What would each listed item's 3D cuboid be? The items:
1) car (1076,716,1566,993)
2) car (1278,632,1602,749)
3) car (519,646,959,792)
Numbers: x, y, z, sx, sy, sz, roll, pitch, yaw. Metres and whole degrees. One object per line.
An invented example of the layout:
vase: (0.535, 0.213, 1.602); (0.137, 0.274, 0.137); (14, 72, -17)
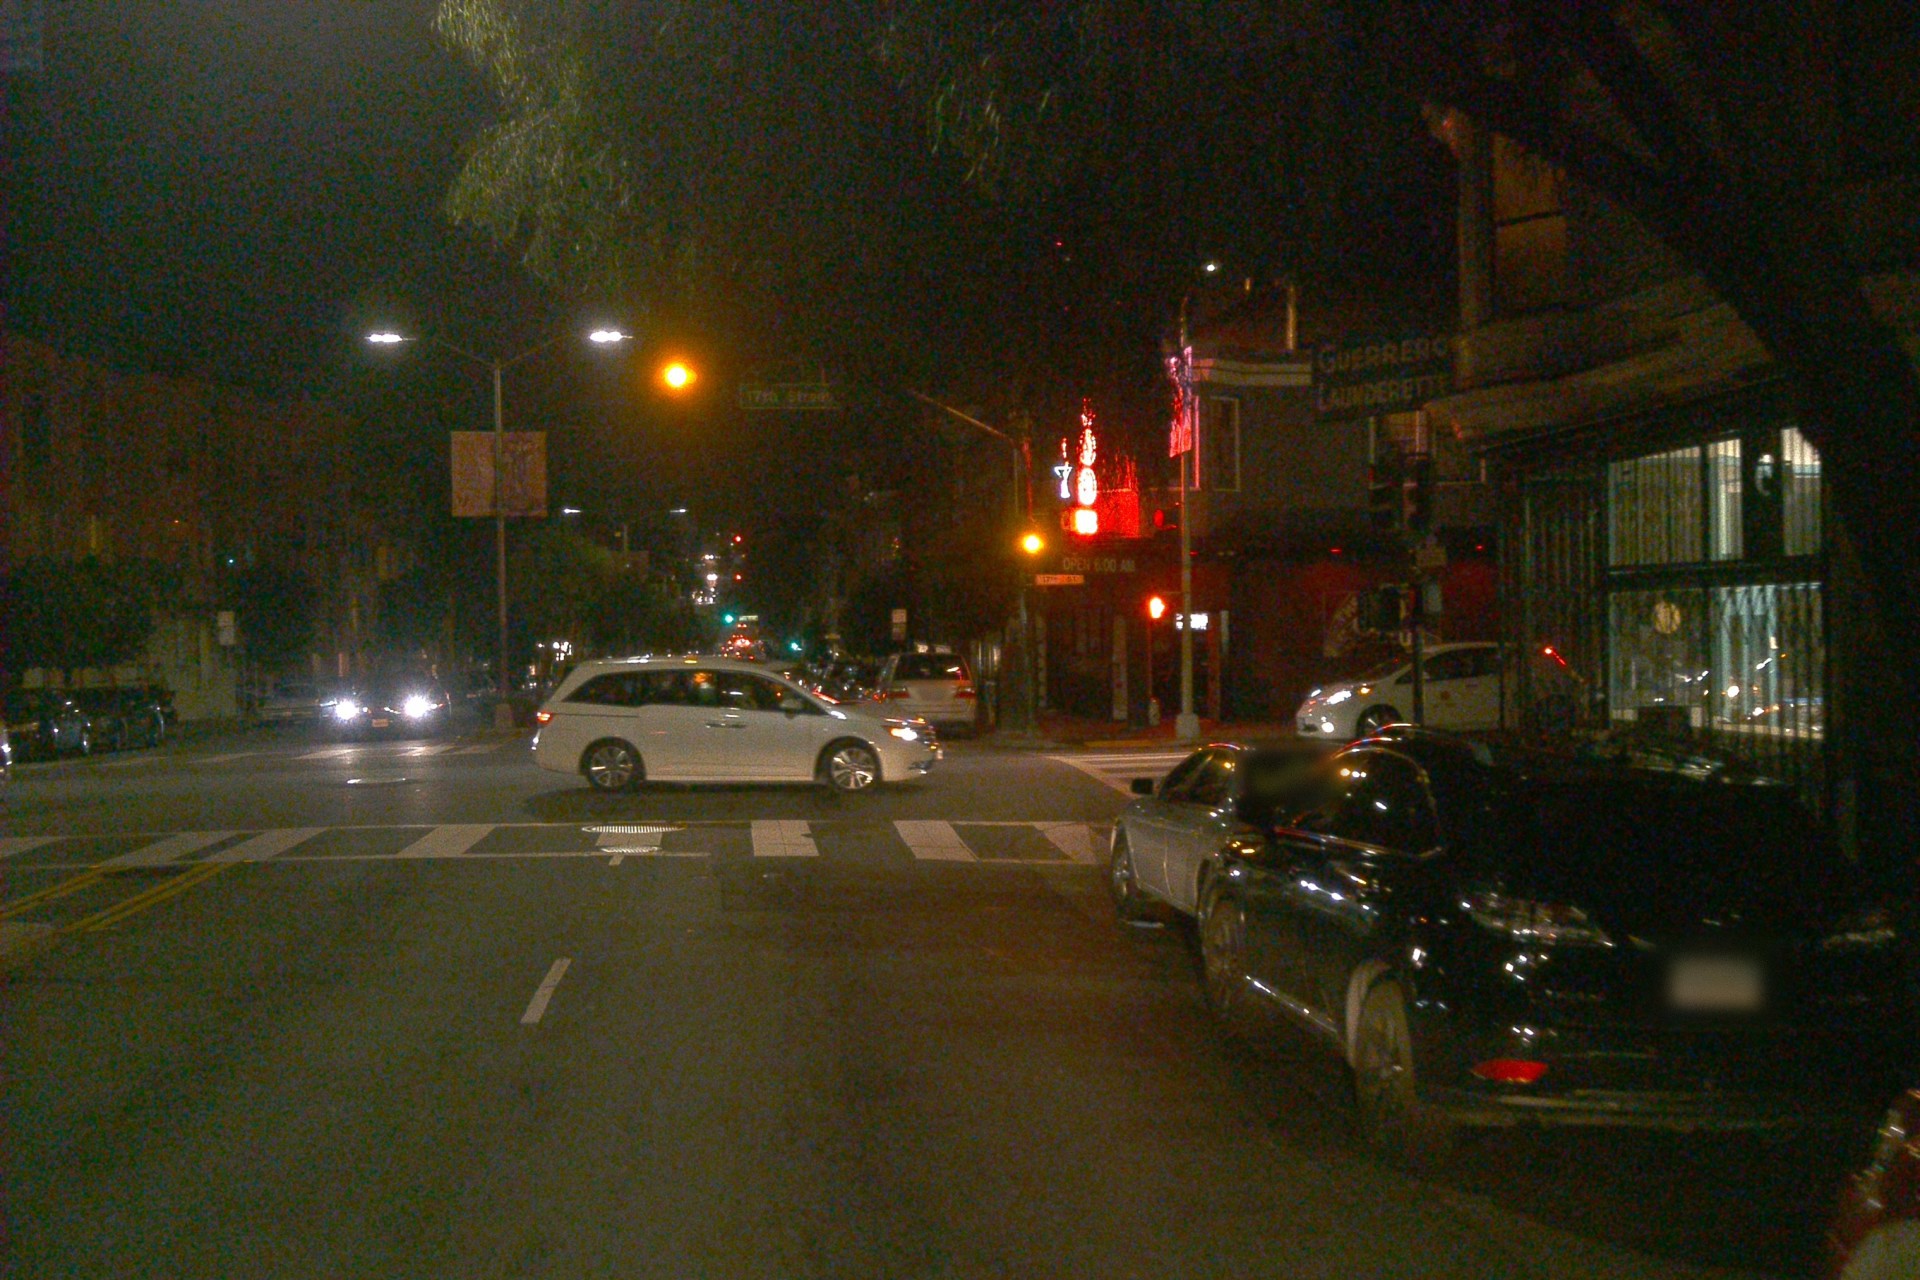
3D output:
car: (2.284, 1.352, 14.557); (2.076, 1.440, 4.842); (1, 0, -7)
car: (7.337, 0.764, 31.653); (4.444, 1.720, 1.937); (1, 0, -8)
car: (-2.779, 0.967, 26.640); (5.206, 1.720, 2.372); (1, 0, 9)
